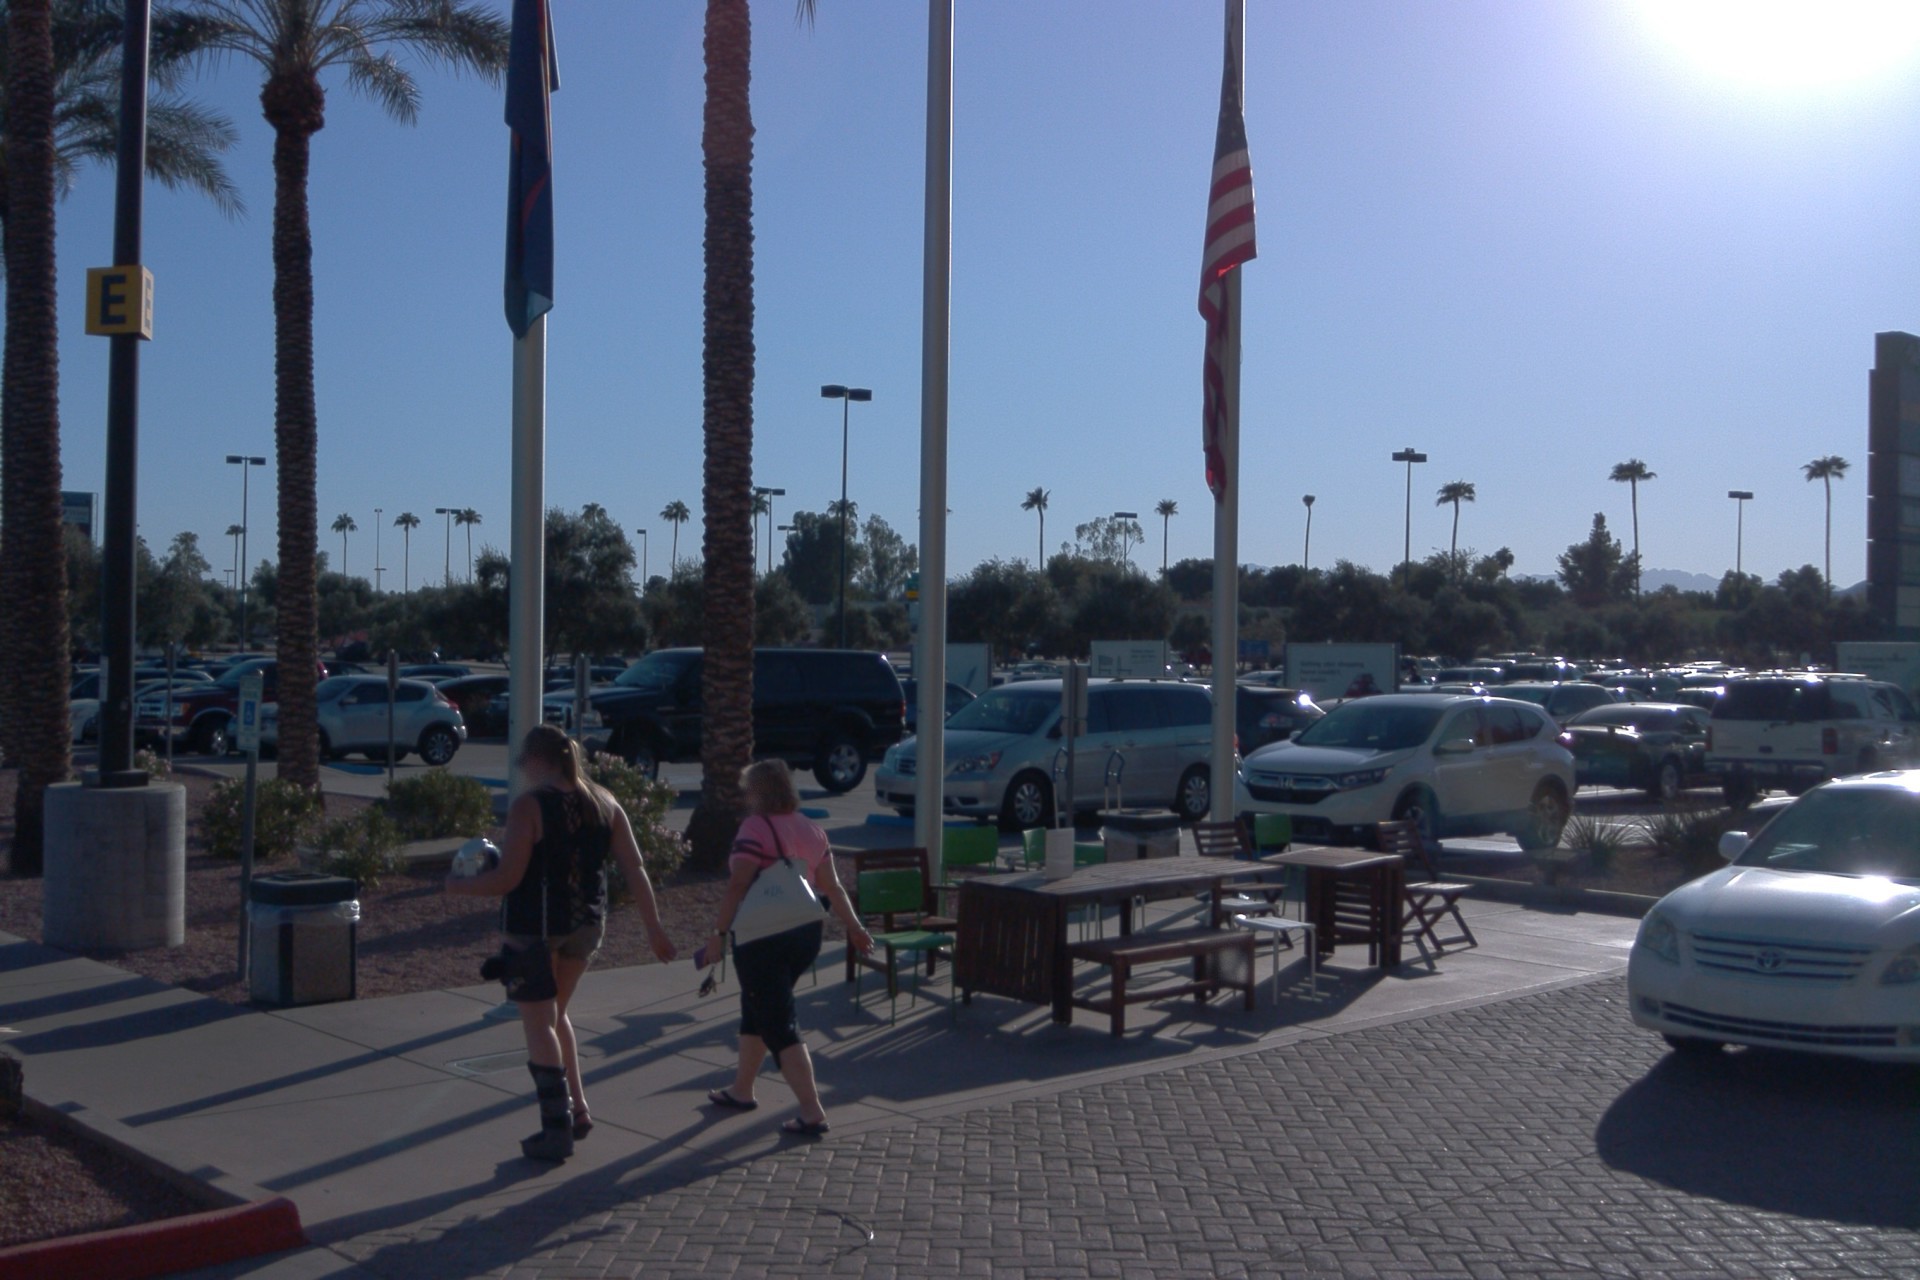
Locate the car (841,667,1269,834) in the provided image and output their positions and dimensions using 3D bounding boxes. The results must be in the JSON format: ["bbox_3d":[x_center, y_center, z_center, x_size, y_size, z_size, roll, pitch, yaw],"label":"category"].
[{"bbox_3d":[1.272,1.240,25.169,2.246,1.780,5.286,0,0,45],"label":"car"}]

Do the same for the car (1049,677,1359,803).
[{"bbox_3d":[3.822,1.525,32.907,2.205,1.770,4.563,1,0,-42],"label":"car"}]

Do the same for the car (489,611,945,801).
[{"bbox_3d":[-3.421,0.883,30.060,6.160,2.490,2.672,1,0,-42],"label":"car"}]

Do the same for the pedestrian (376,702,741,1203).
[{"bbox_3d":[-1.644,1.192,8.457,1.136,1.830,0.950,0,0,41],"label":"pedestrian"}]

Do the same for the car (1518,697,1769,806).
[{"bbox_3d":[10.689,1.677,32.149,4.346,1.490,1.909,1,0,-44],"label":"car"}]

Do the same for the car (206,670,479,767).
[{"bbox_3d":[-10.681,1.313,35.890,1.967,1.550,4.106,0,0,45],"label":"car"}]

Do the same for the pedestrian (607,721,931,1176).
[{"bbox_3d":[-0.844,1.293,9.173,0.998,1.810,1.002,0,0,41],"label":"pedestrian"}]

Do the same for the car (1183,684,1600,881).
[{"bbox_3d":[4.516,1.341,21.132,2.159,1.710,4.564,0,0,42],"label":"car"}]
